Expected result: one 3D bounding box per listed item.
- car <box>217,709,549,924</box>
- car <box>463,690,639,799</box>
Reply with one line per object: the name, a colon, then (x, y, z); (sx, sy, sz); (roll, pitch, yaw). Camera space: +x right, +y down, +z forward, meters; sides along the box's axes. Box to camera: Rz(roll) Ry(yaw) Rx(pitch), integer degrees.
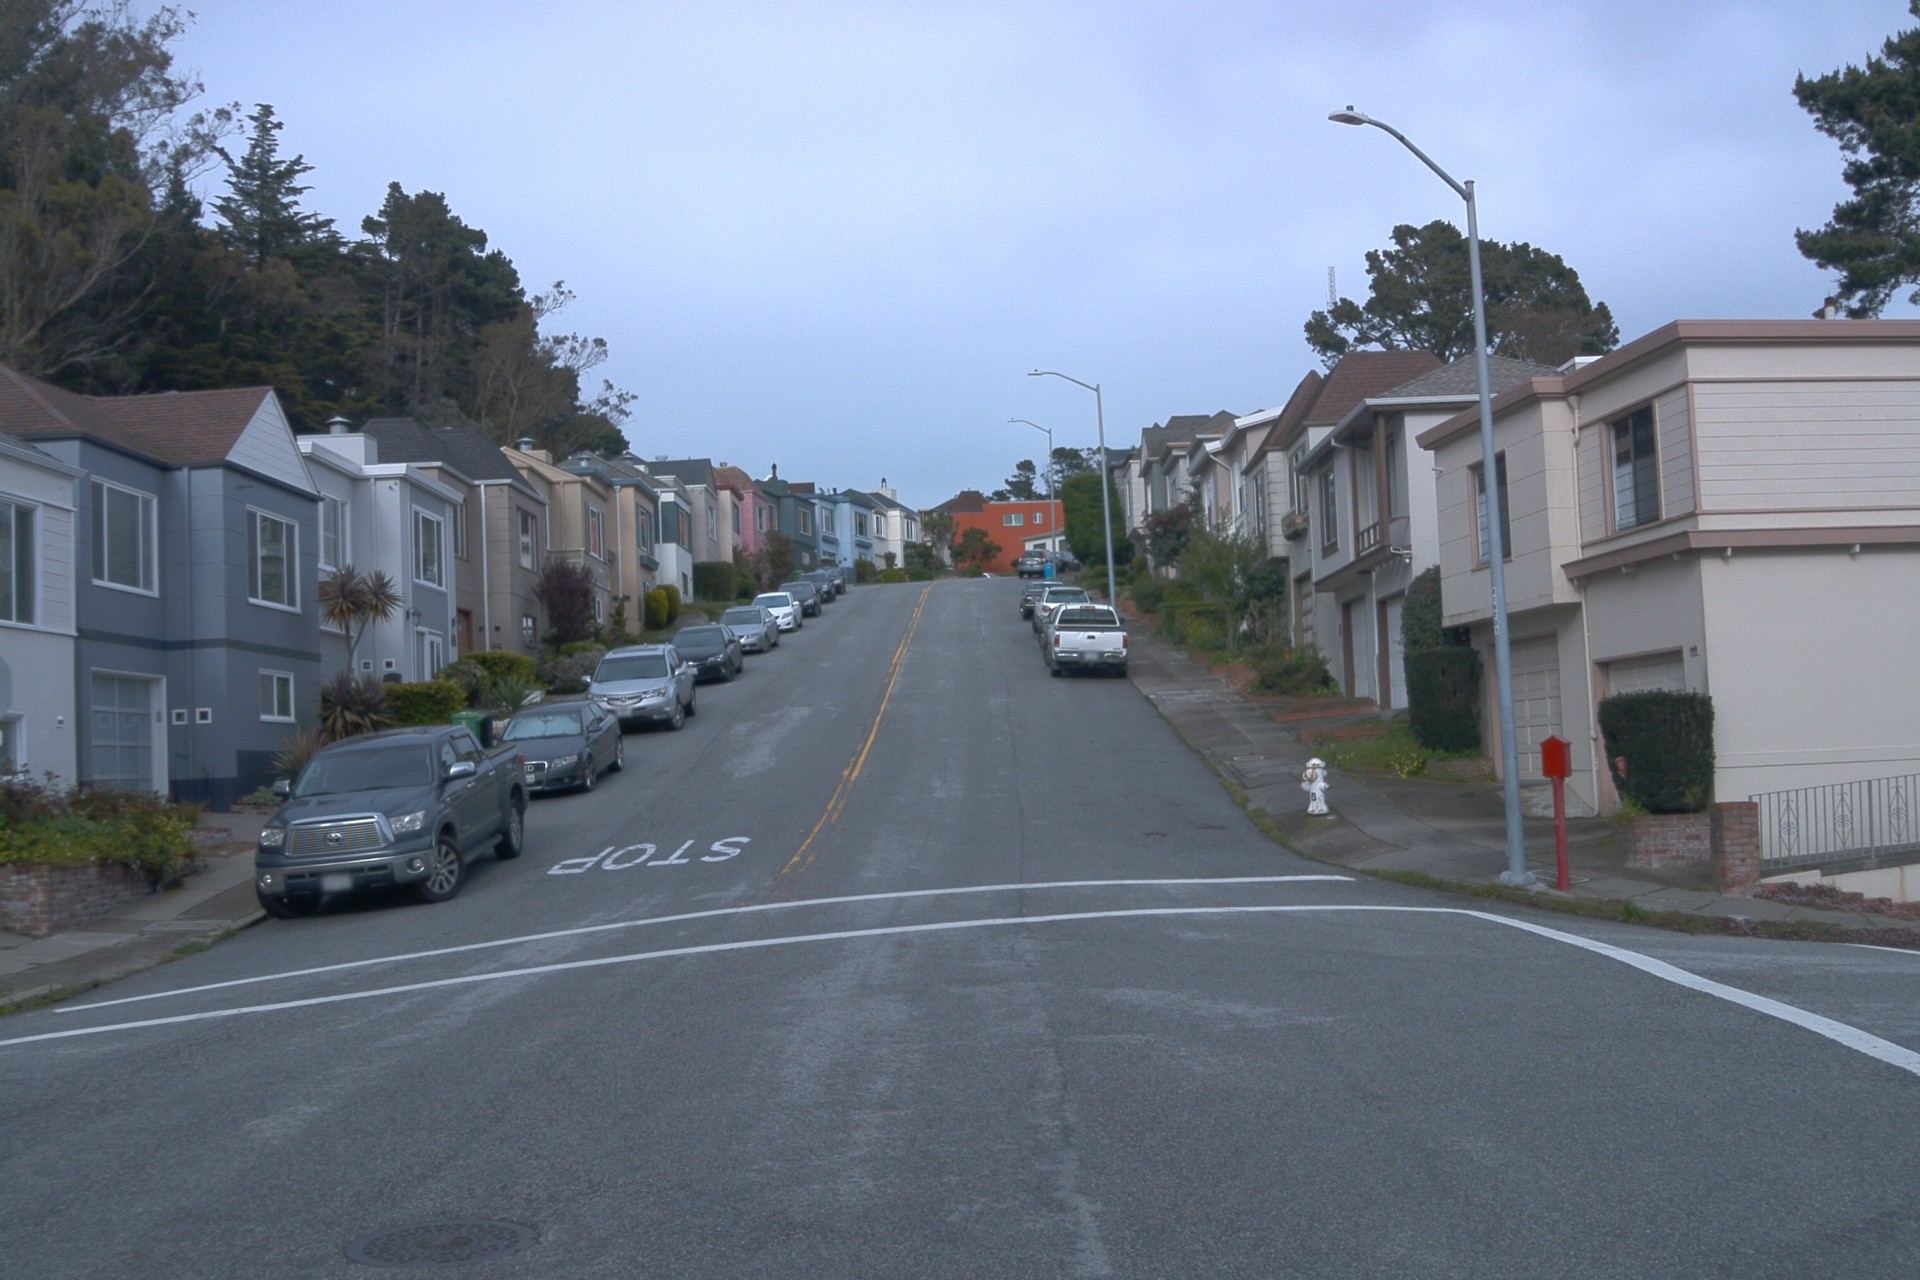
car: (-6.959, 2.043, 25.850); (2.477, 2.200, 6.030); (0, 0, 0)
car: (-6.976, 1.746, 35.819); (1.958, 1.680, 4.567); (0, 0, 3)
